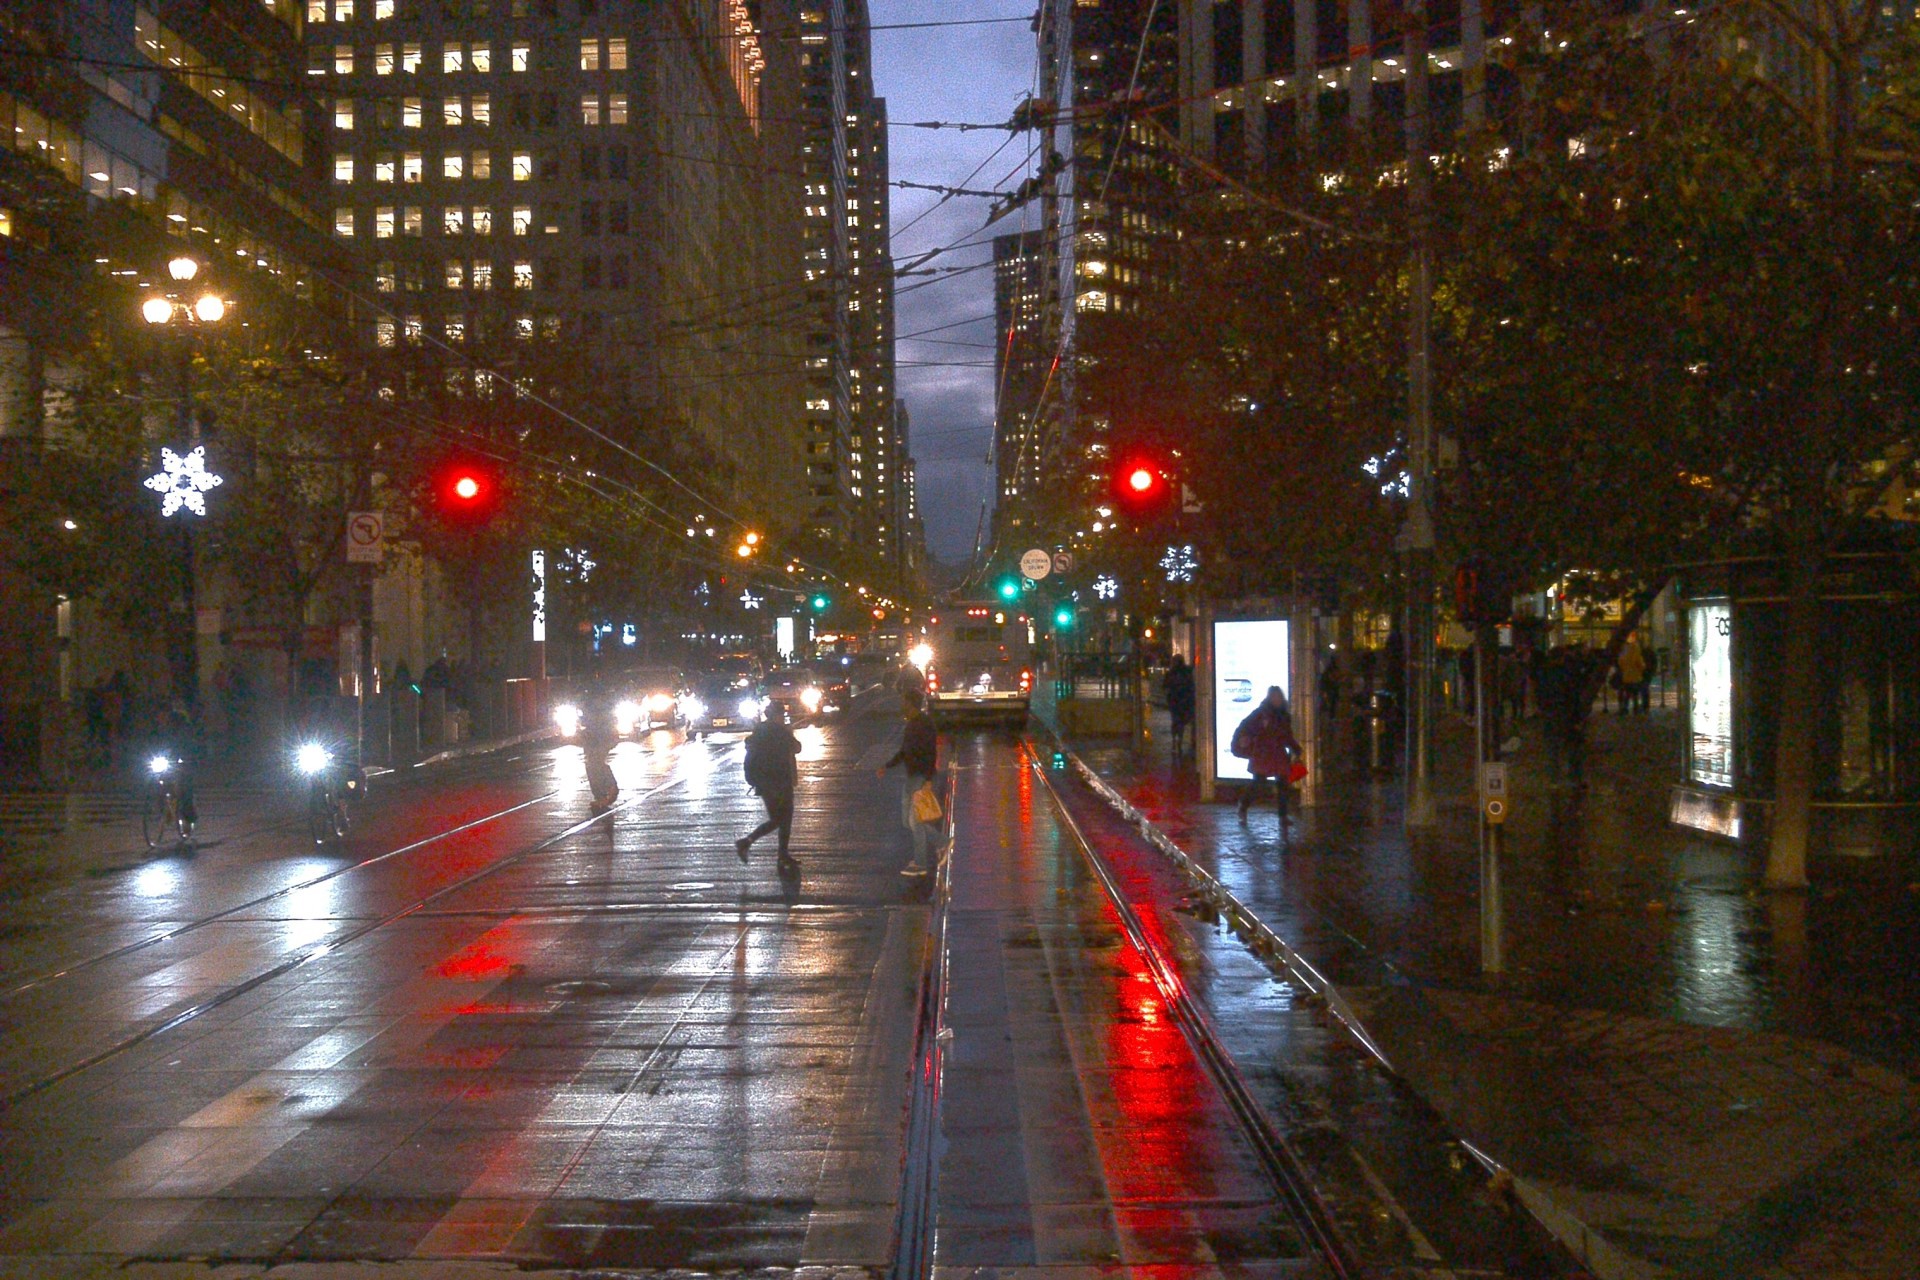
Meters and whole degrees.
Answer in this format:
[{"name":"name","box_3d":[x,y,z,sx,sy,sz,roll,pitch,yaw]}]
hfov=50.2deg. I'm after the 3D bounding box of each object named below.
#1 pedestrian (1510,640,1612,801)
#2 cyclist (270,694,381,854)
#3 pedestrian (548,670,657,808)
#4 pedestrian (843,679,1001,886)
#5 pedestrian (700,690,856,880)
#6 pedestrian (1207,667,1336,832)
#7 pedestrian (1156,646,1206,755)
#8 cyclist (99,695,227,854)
[{"name":"pedestrian","box_3d":[7.495,0.977,25.518,0.925,1.940,1.203,0,0,32]},{"name":"cyclist","box_3d":[-7.061,1.459,22.868,0.731,1.680,1.742,0,0,-2]},{"name":"pedestrian","box_3d":[-4.779,1.304,27.390,1.177,1.780,0.852,0,0,37]},{"name":"pedestrian","box_3d":[-0.351,1.267,18.732,1.149,1.800,0.870,0,0,-36]},{"name":"pedestrian","box_3d":[-1.713,1.323,19.186,1.051,1.670,1.131,0,0,-31]},{"name":"pedestrian","box_3d":[3.342,1.150,22.053,1.007,1.710,1.060,0,0,-17]},{"name":"pedestrian","box_3d":[3.936,1.060,36.443,0.780,1.890,1.221,0,0,12]},{"name":"cyclist","box_3d":[-8.952,1.476,23.077,0.761,1.680,1.786,0,0,-1]}]
